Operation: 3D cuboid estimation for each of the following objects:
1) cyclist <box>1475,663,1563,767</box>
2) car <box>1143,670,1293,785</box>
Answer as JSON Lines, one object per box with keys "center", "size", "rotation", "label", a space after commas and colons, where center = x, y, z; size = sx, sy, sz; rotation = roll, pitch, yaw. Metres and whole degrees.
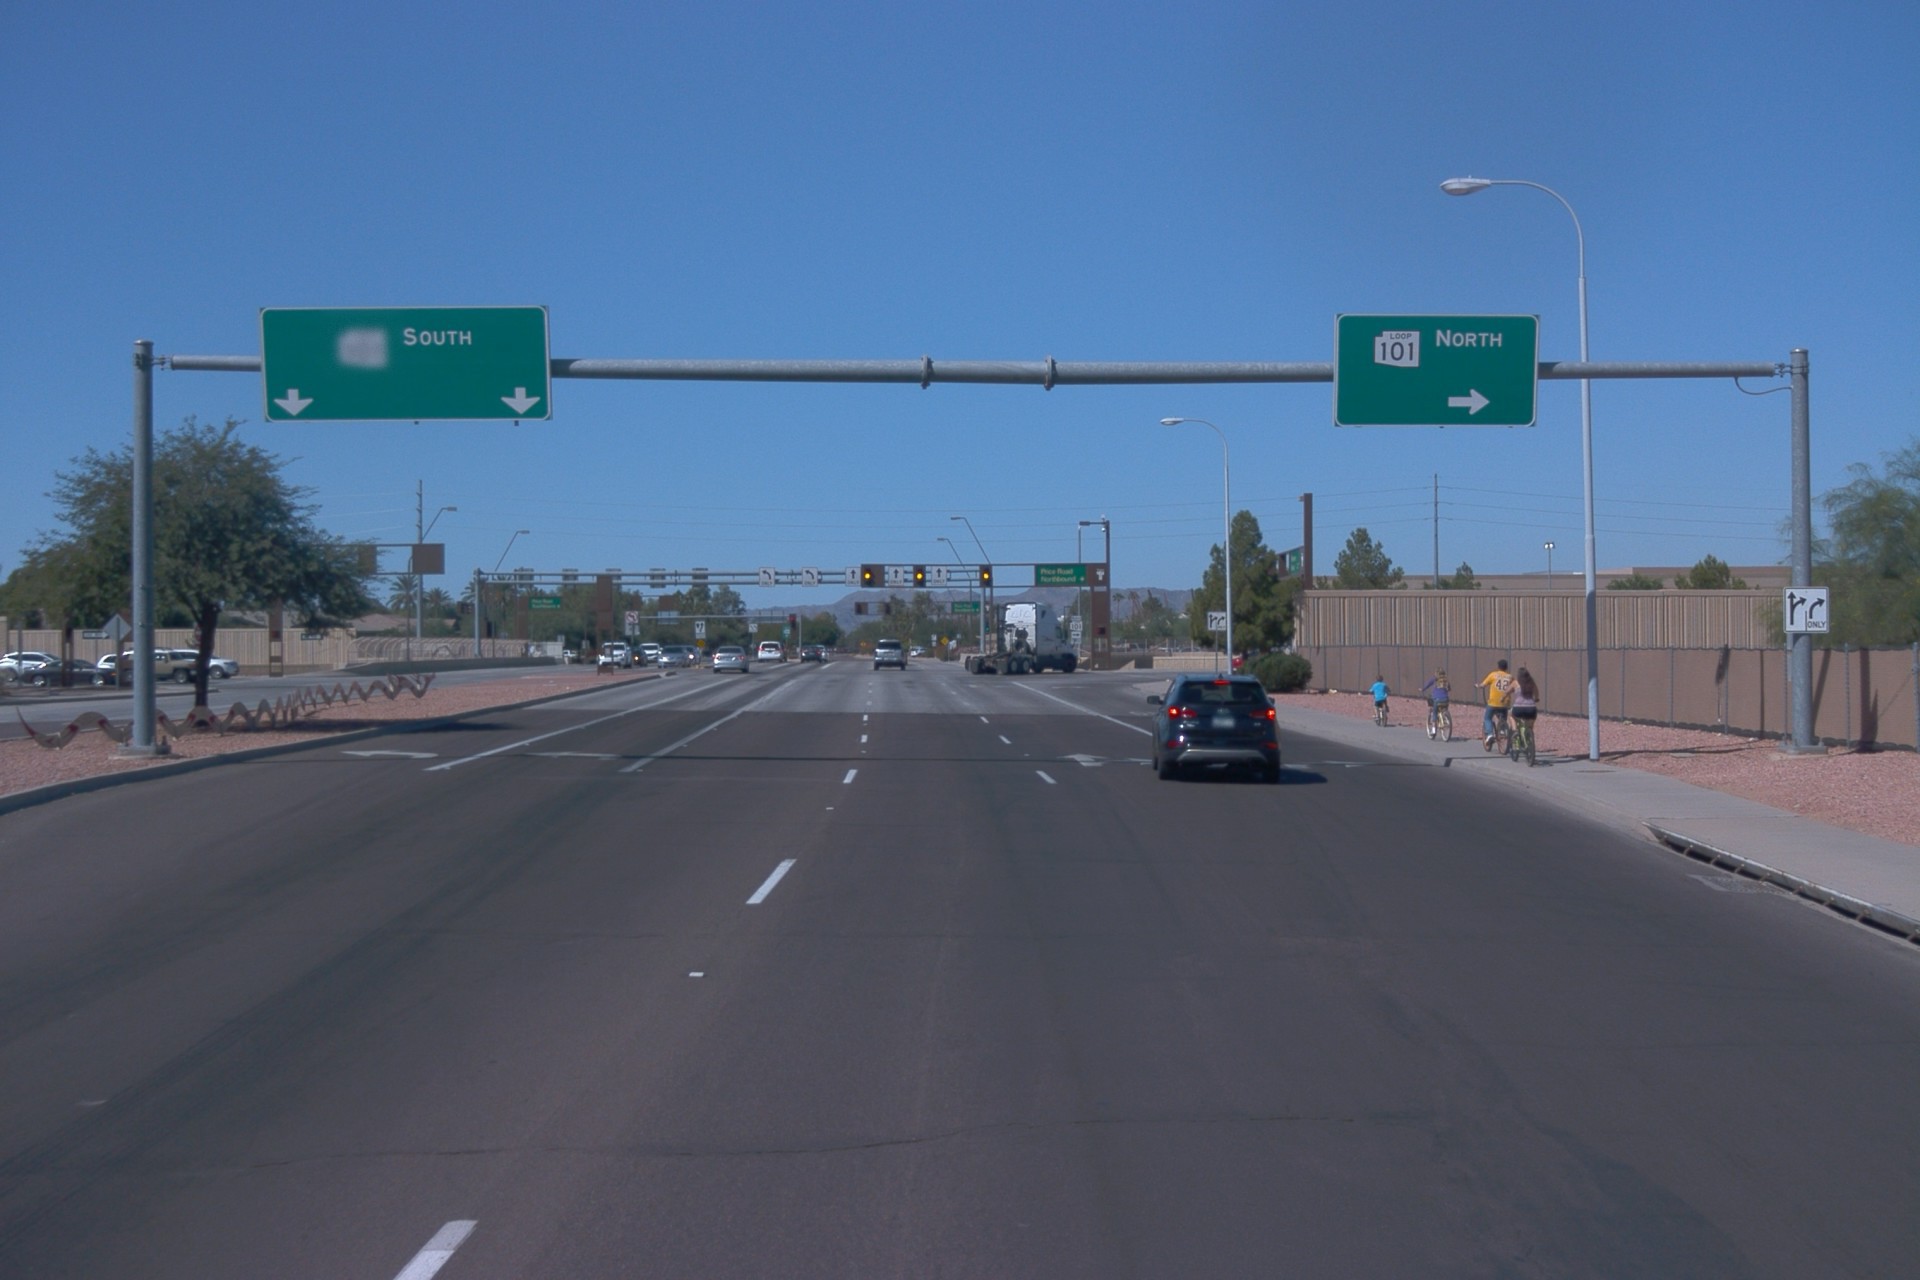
{"center": [9.633, 1.274, 35.999], "size": [1.021, 1.740, 2.211], "rotation": [1, -1, 3], "label": "cyclist"}
{"center": [4.122, 1.362, 34.036], "size": [2.155, 1.730, 4.730], "rotation": [1, -1, 4], "label": "car"}
